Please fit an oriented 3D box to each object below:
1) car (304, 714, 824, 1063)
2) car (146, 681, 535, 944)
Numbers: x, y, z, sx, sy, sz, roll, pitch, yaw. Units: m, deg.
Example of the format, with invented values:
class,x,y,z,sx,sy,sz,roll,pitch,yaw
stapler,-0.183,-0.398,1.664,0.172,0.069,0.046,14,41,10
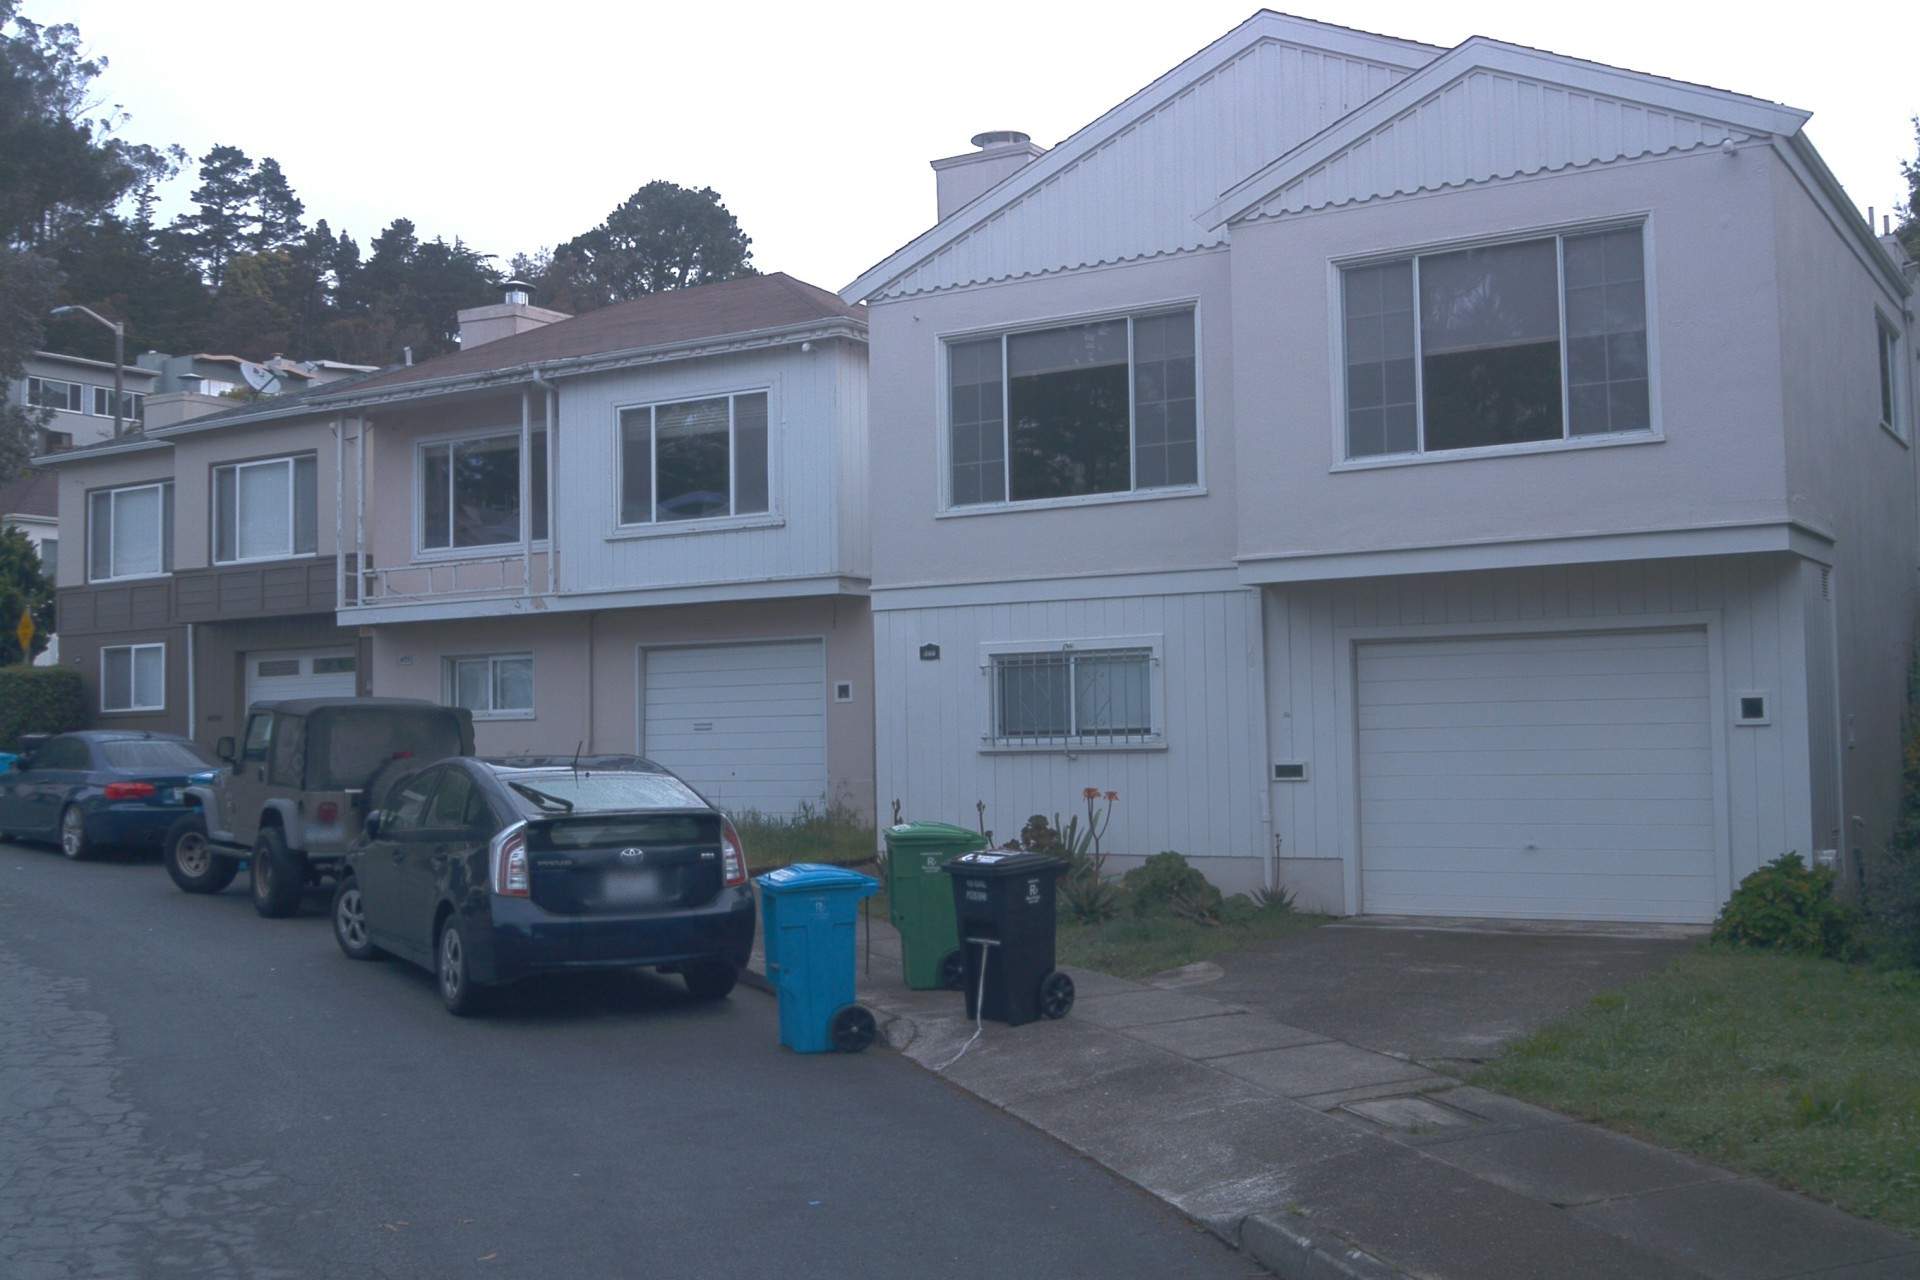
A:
class,x,y,z,sx,sy,sz,roll,pitch,yaw
car,-2.804,1.438,13.703,2.070,1.739,4.477,0,0,-29
car,-5.576,1.382,18.318,2.123,1.973,4.027,0,0,-35
